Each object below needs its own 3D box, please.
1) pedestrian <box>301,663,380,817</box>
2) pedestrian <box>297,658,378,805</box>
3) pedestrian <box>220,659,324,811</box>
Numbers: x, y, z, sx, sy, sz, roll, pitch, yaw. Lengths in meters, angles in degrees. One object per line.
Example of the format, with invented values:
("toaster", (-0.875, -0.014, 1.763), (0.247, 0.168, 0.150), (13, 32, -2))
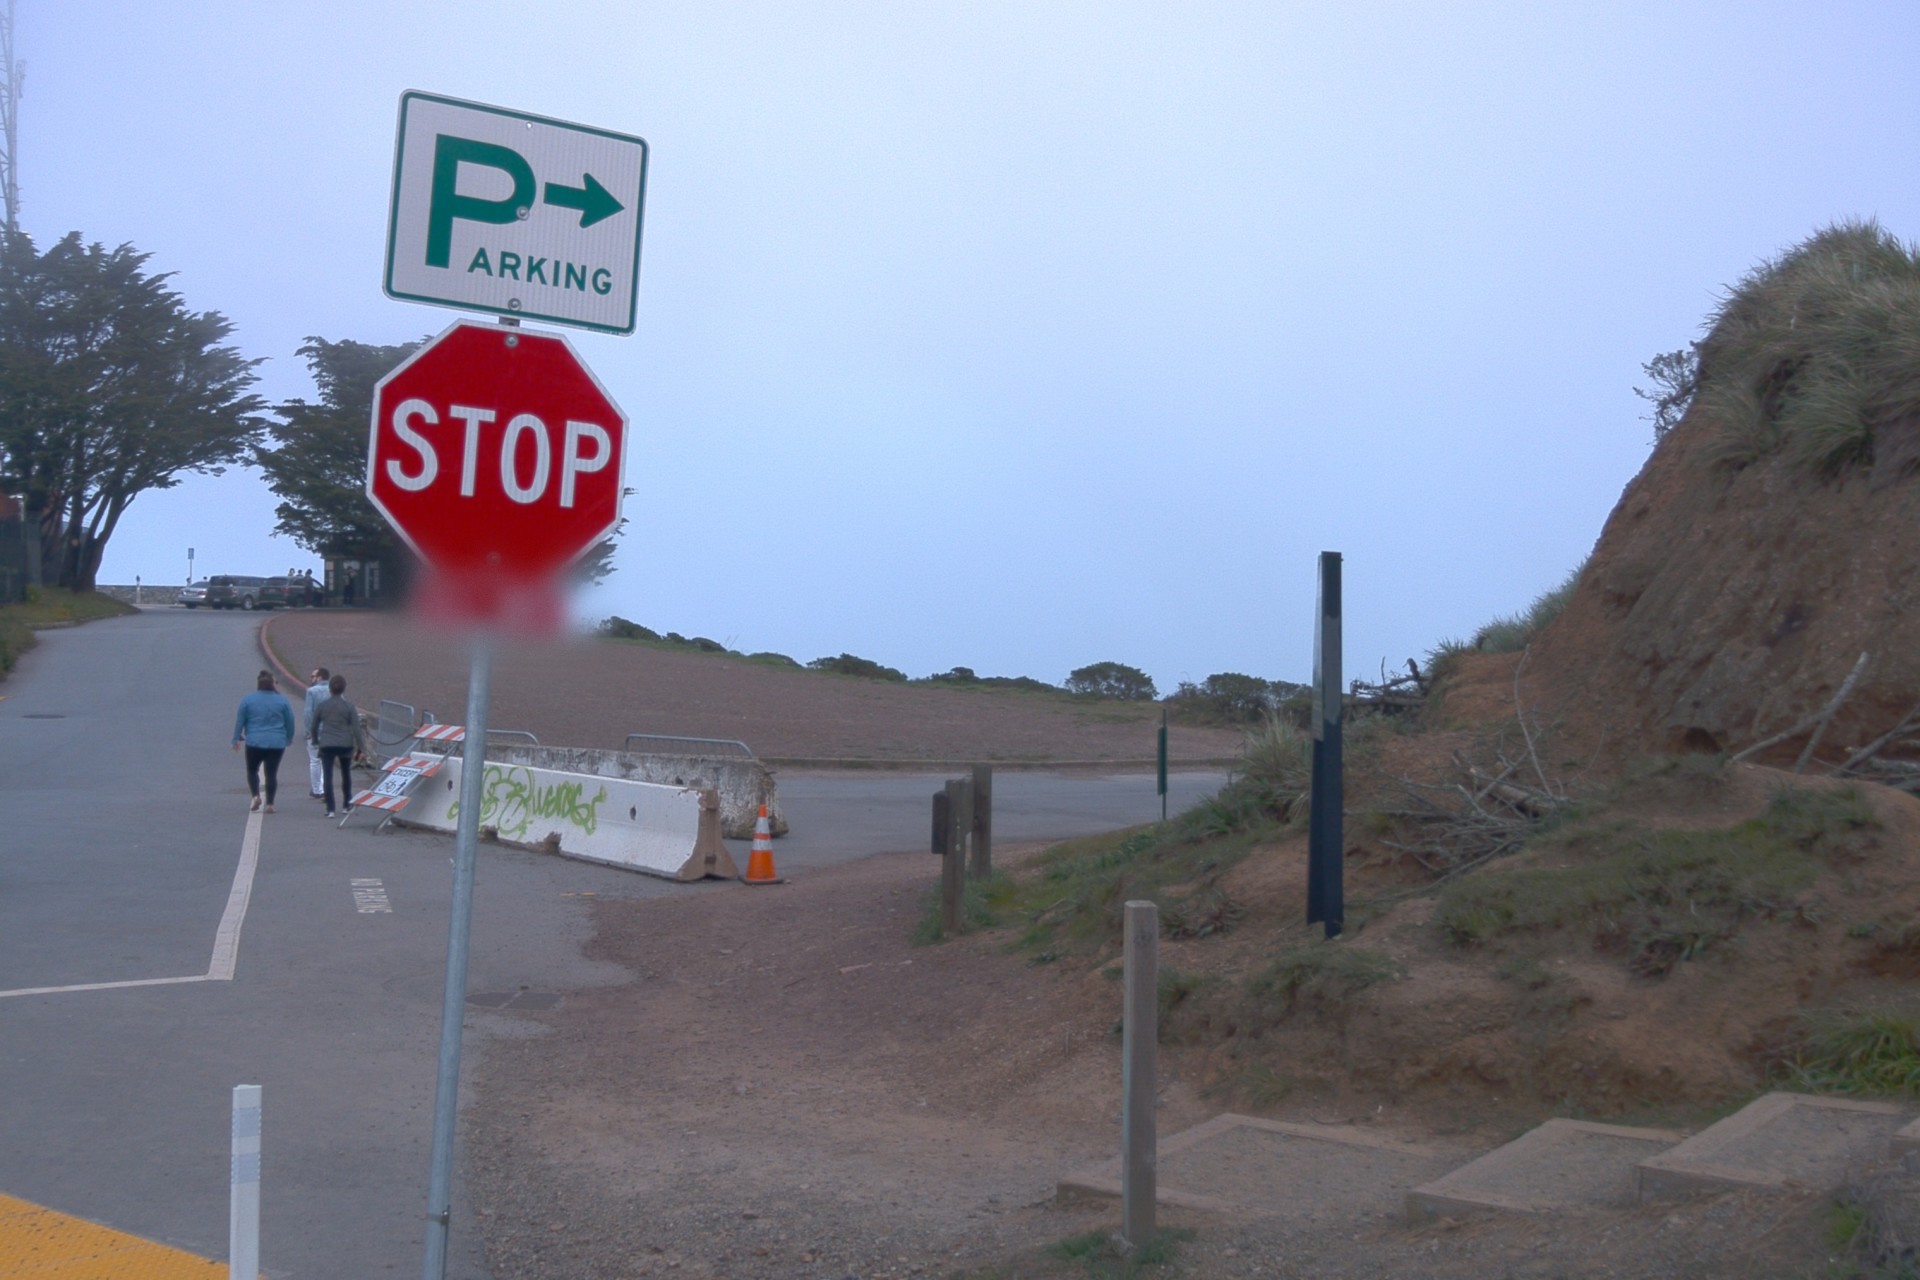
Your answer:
("pedestrian", (-7.111, 1.128, 24.091), (0.731, 1.720, 1.097), (1, 0, -9))
("pedestrian", (-7.814, 1.133, 26.299), (0.813, 1.790, 0.939), (0, 0, -26))
("pedestrian", (-8.106, 1.092, 24.655), (1.107, 1.730, 1.067), (1, 0, -20))
